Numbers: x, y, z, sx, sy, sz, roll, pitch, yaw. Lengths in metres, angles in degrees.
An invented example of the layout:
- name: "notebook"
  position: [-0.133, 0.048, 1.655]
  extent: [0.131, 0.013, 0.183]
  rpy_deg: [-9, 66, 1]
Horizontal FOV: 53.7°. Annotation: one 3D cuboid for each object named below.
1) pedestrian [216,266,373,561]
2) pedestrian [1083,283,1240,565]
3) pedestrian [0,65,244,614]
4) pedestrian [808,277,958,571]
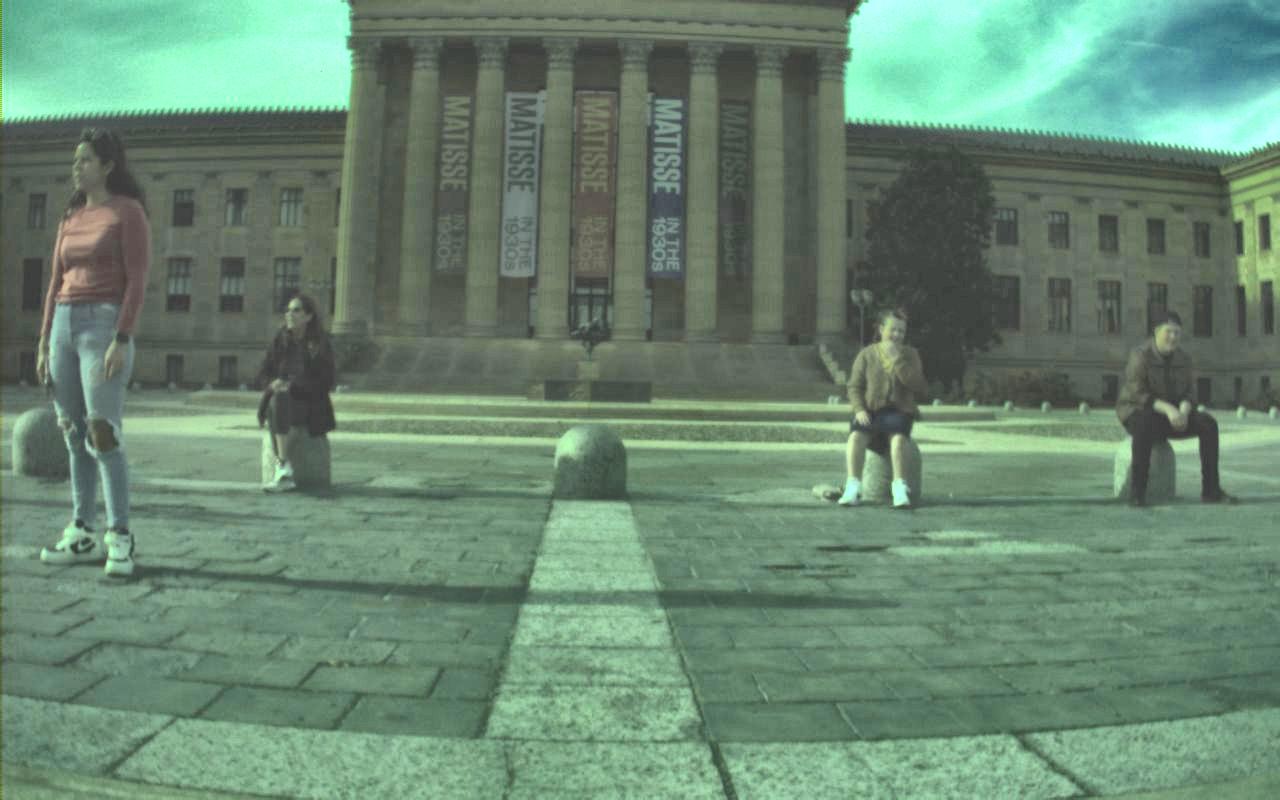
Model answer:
- name: "pedestrian"
  position: [-2.191, 0.076, 7.746]
  extent: [0.825, 1.768, 0.829]
  rpy_deg: [0, 0, 1]
- name: "pedestrian"
  position: [3.472, 0.162, 7.830]
  extent: [0.863, 1.778, 0.863]
  rpy_deg: [0, 0, 6]
- name: "pedestrian"
  position: [-1.977, -0.204, 4.182]
  extent: [0.775, 1.794, 0.781]
  rpy_deg: [0, 0, 13]
- name: "pedestrian"
  position: [1.530, 0.146, 7.921]
  extent: [0.843, 1.774, 0.844]
  rpy_deg: [0, 0, 3]
